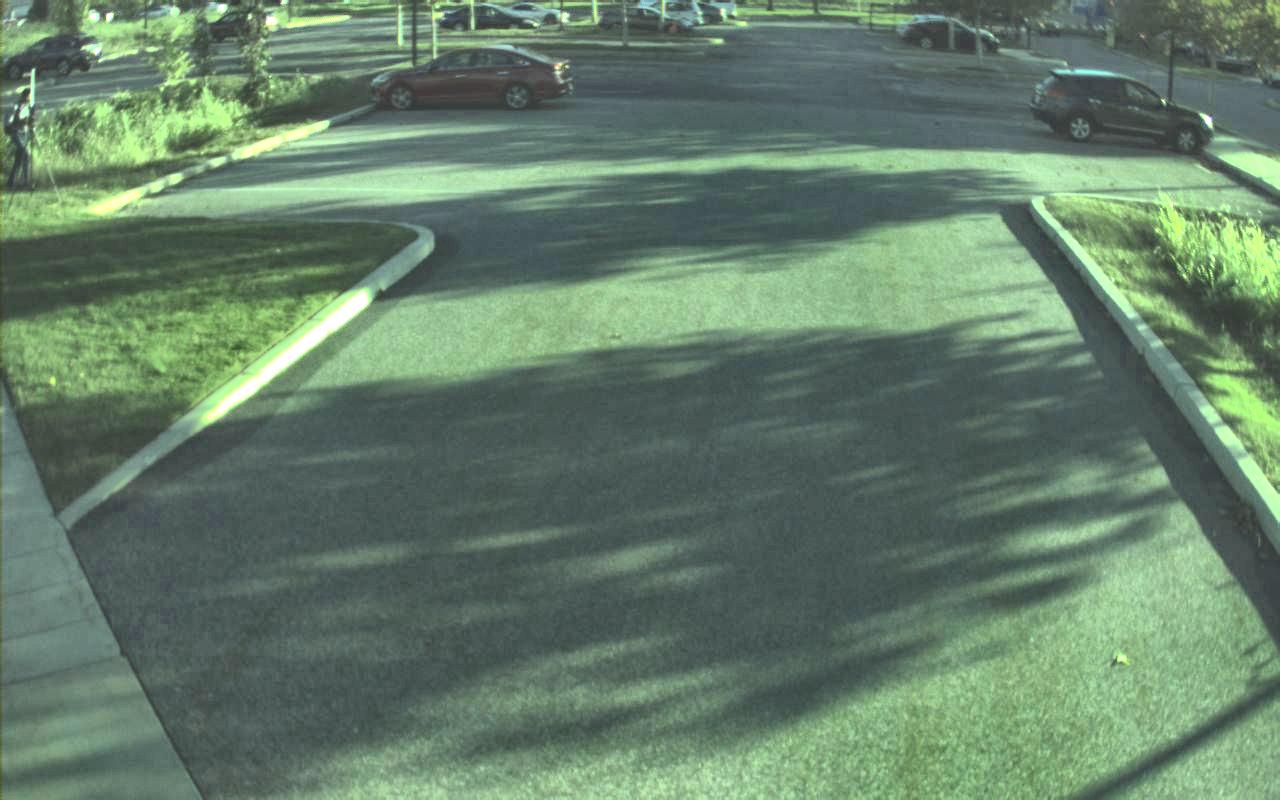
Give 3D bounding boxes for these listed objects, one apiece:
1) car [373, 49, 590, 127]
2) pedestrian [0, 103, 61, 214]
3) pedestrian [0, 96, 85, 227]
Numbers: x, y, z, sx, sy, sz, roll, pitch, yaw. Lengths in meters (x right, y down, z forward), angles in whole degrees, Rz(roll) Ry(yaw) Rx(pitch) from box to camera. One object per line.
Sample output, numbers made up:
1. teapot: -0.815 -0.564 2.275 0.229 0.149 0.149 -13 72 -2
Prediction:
1. car: -3.708 -7.334 28.855 4.758 1.625 2.015 1 15 7
2. pedestrian: -9.951 -3.872 18.037 0.842 1.680 0.806 -4 15 -10
3. pedestrian: -8.802 -3.451 16.412 0.926 1.801 0.852 2 15 12
